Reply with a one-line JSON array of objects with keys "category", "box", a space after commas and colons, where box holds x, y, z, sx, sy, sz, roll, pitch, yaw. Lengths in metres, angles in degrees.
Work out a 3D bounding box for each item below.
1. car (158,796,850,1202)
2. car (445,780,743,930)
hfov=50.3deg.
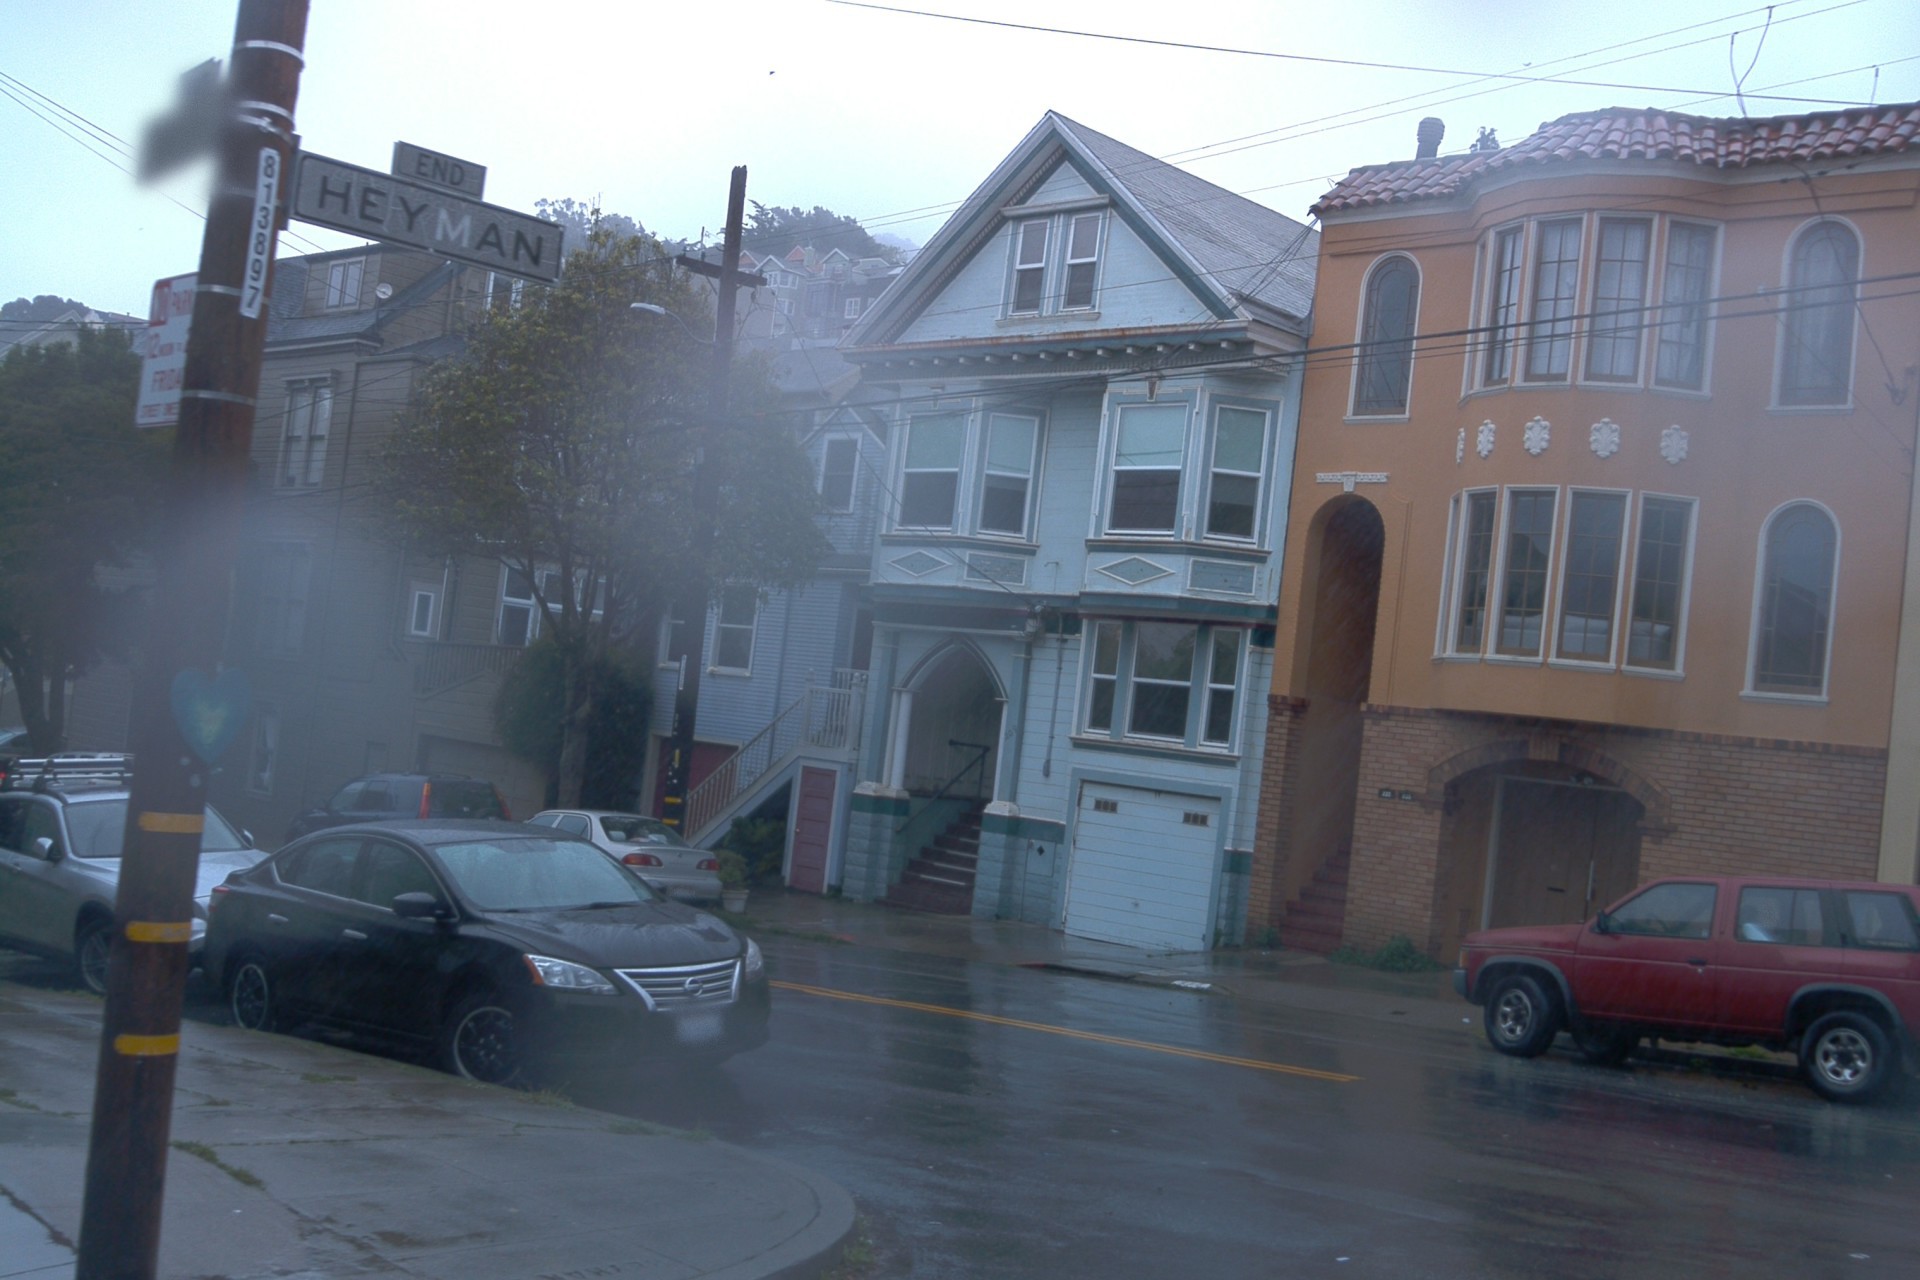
[{"category": "car", "box": [-3.018, 2.036, 12.921, 4.550, 1.700, 2.068, 1, 1, 44]}, {"category": "car", "box": [-4.897, 2.767, 27.035, 4.248, 1.490, 1.679, 1, 1, 44]}]
